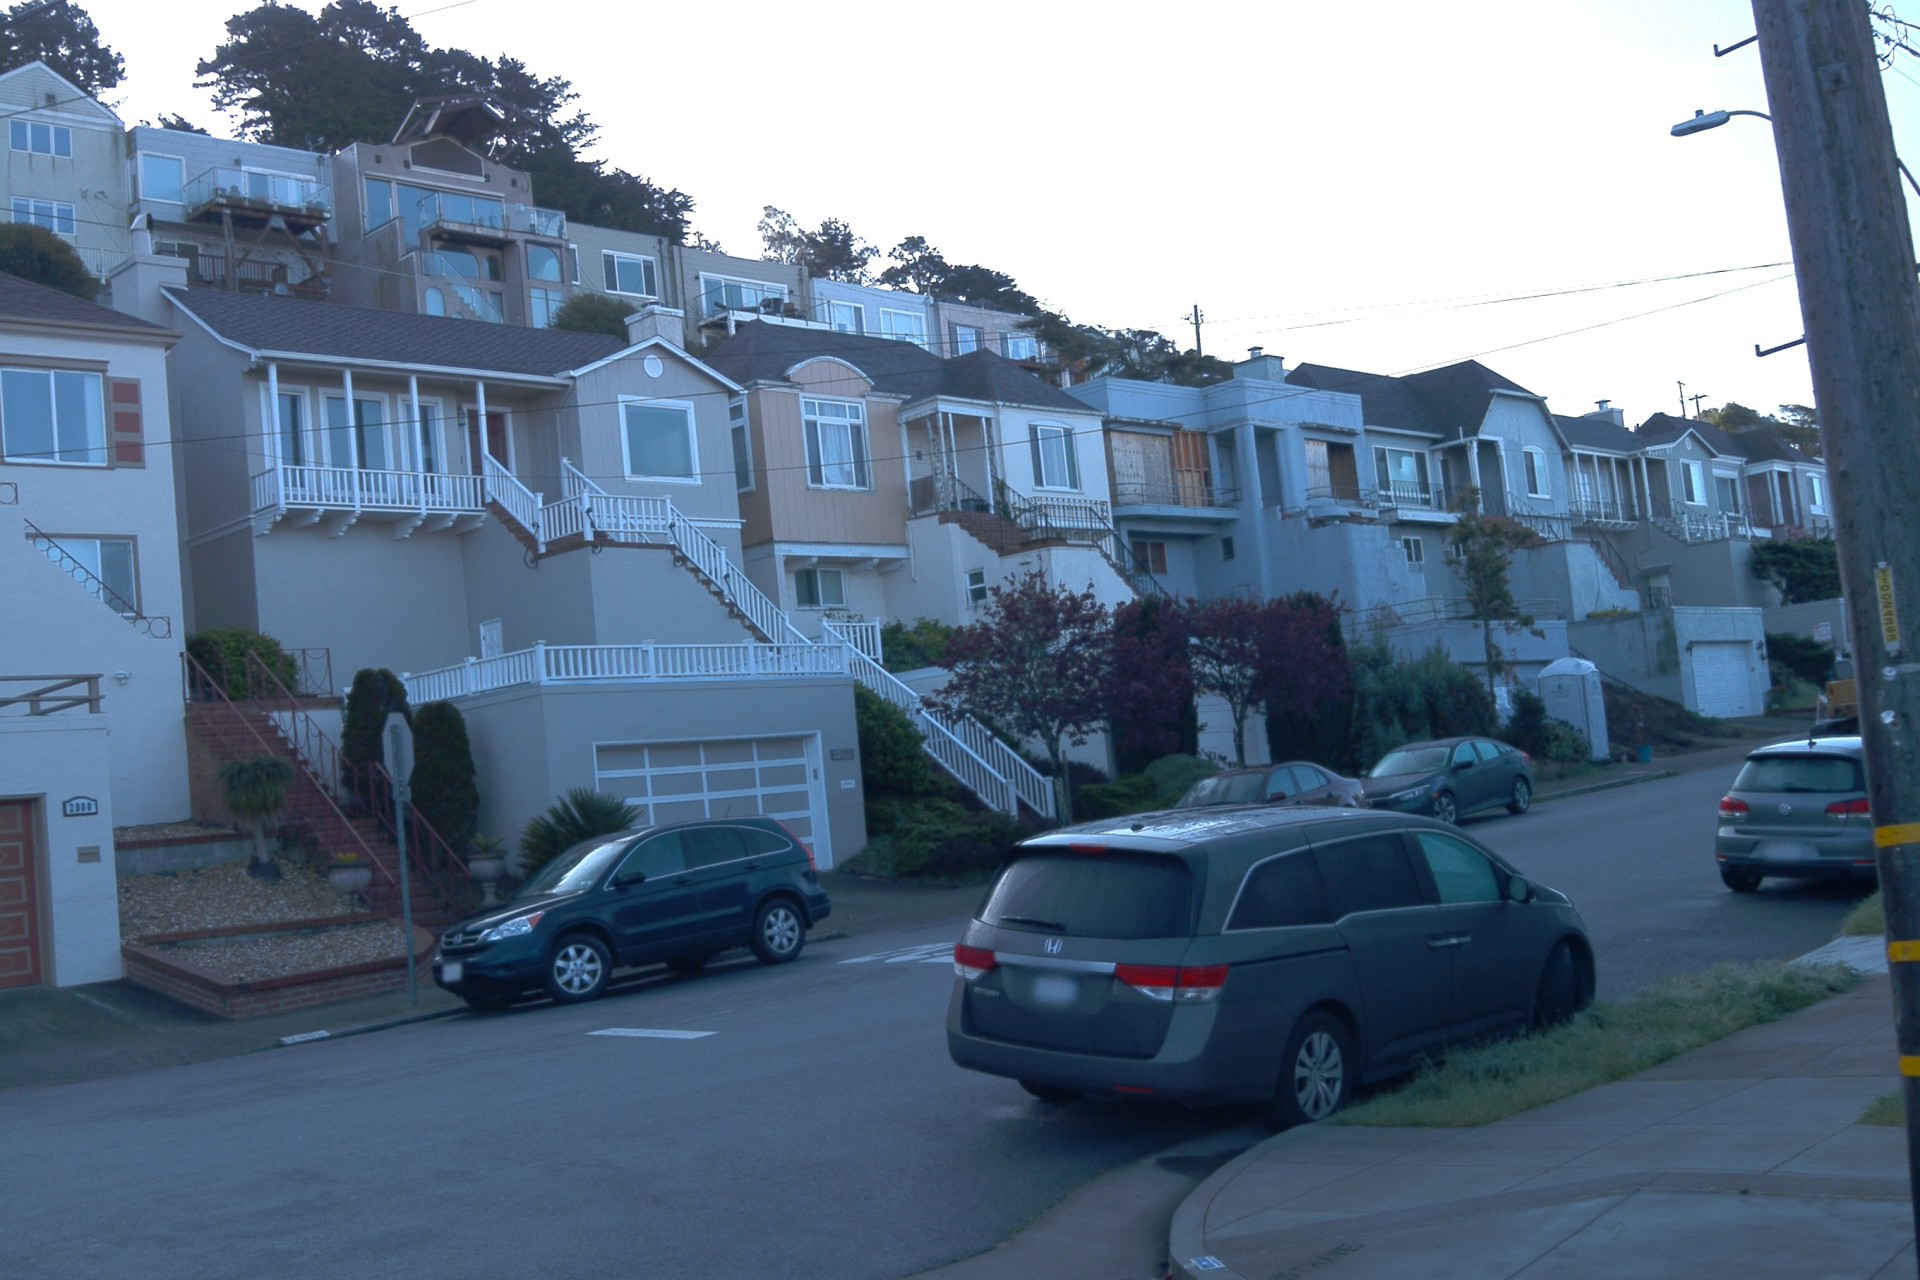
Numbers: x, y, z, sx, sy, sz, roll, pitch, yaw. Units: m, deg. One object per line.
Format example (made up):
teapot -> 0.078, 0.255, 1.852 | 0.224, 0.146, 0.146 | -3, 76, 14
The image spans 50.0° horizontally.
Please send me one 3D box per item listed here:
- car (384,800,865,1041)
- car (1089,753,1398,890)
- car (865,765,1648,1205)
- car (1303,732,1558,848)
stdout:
car -> -3.469, 2.850, 21.958 | 2.207, 1.910, 4.680 | 0, 0, 44
car -> 4.206, 2.552, 29.947 | 2.151, 1.560, 4.797 | 0, 0, 41
car -> 2.080, 1.878, 12.944 | 2.390, 1.860, 5.188 | 0, 0, 42
car -> 7.836, 2.406, 33.999 | 2.163, 1.560, 4.754 | 0, 0, 40
